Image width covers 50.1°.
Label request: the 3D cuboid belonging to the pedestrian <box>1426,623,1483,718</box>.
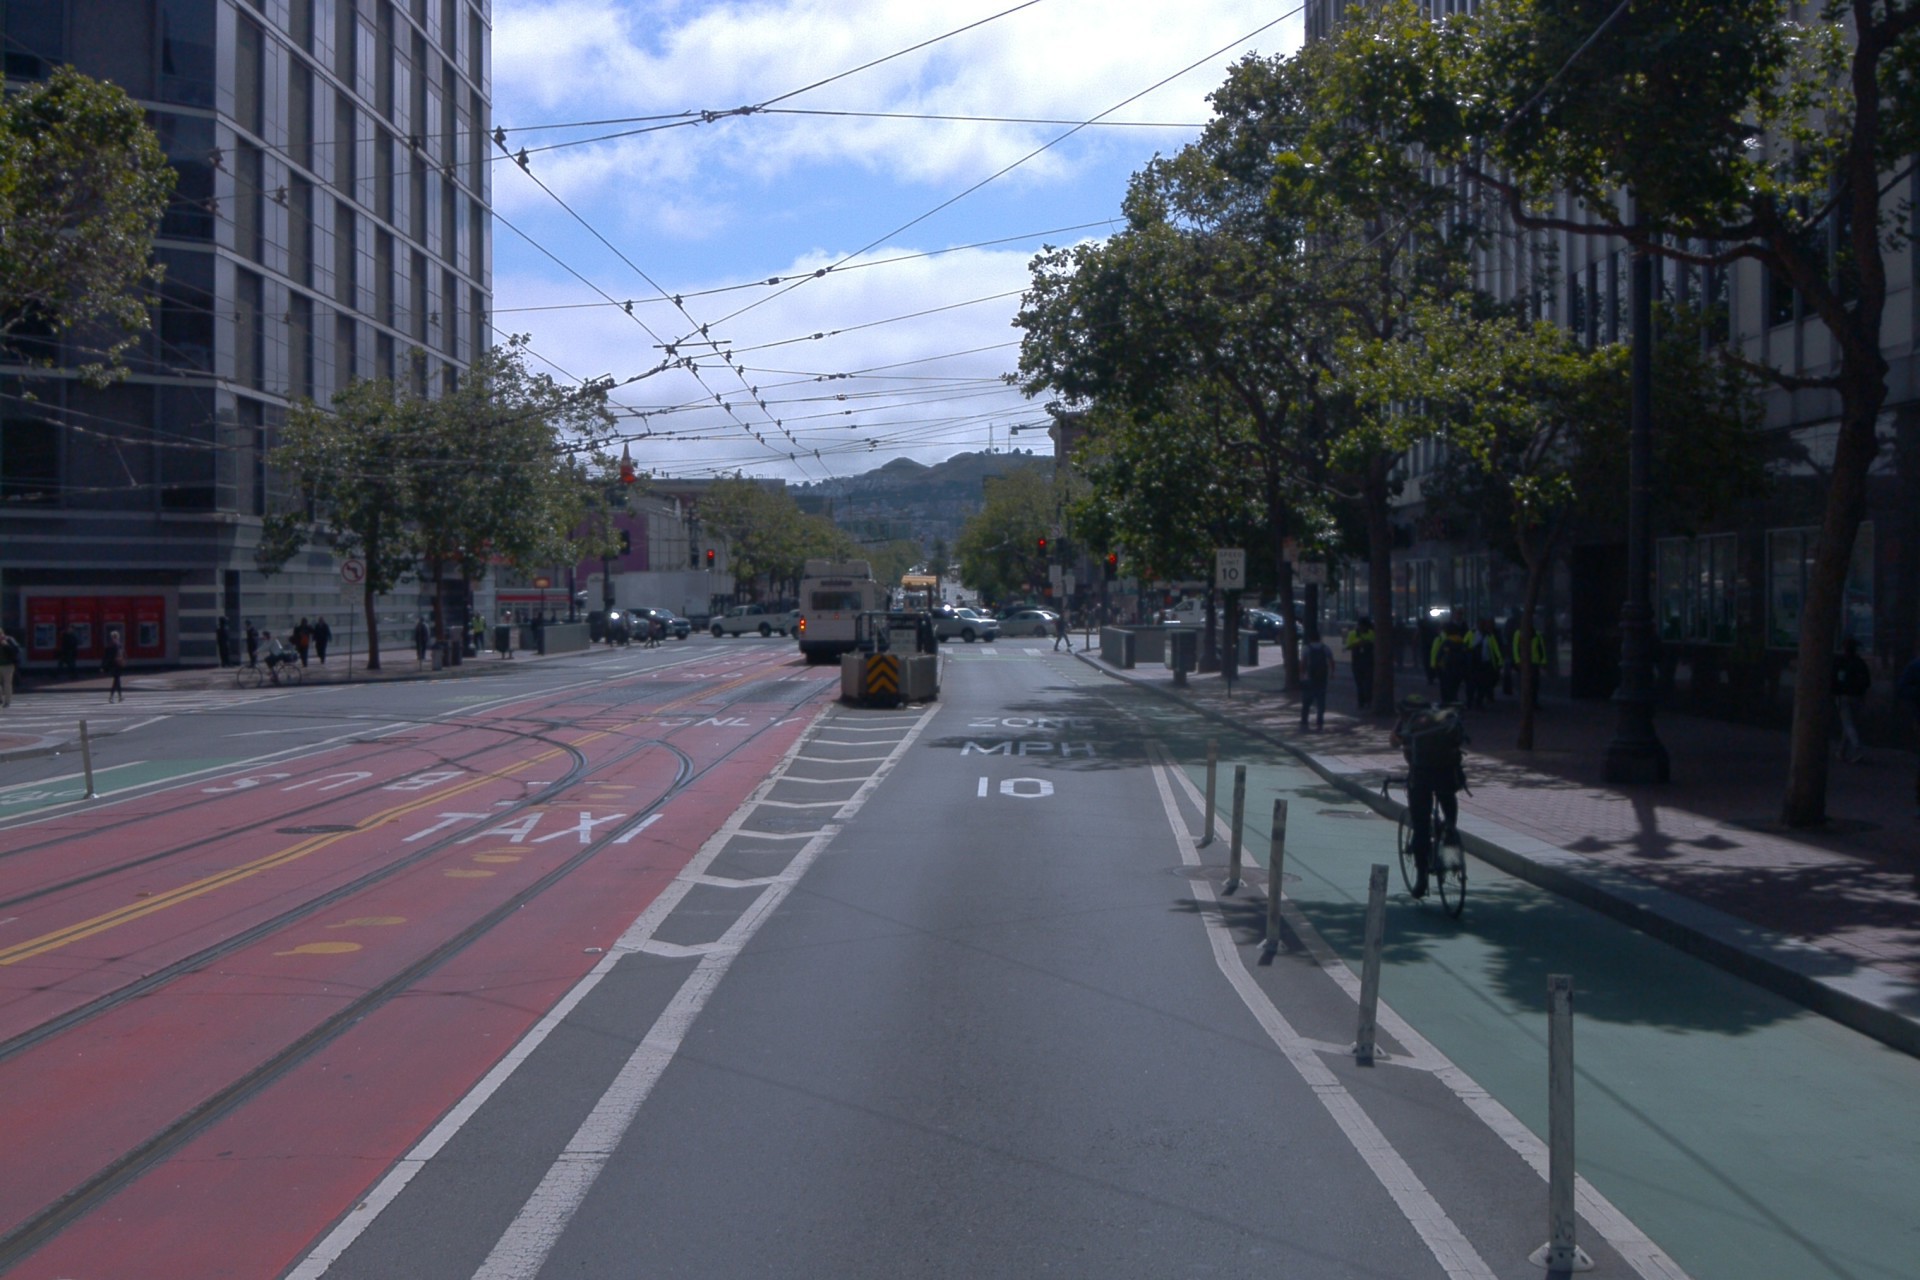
[{"bbox_3d":[8.824,0.533,36.730,0.709,1.660,1.023,0,1,-4],"label":"pedestrian"}]

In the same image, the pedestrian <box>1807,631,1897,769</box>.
[{"bbox_3d":[11.021,0.724,25.419,0.677,1.660,1.044,0,1,2],"label":"pedestrian"}]

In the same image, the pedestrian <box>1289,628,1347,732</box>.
[{"bbox_3d":[5.888,0.654,33.832,0.810,1.680,0.943,0,1,1],"label":"pedestrian"}]

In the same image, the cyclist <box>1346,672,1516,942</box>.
[{"bbox_3d":[3.349,1.145,14.773,0.807,1.770,1.801,0,1,0],"label":"cyclist"}]
